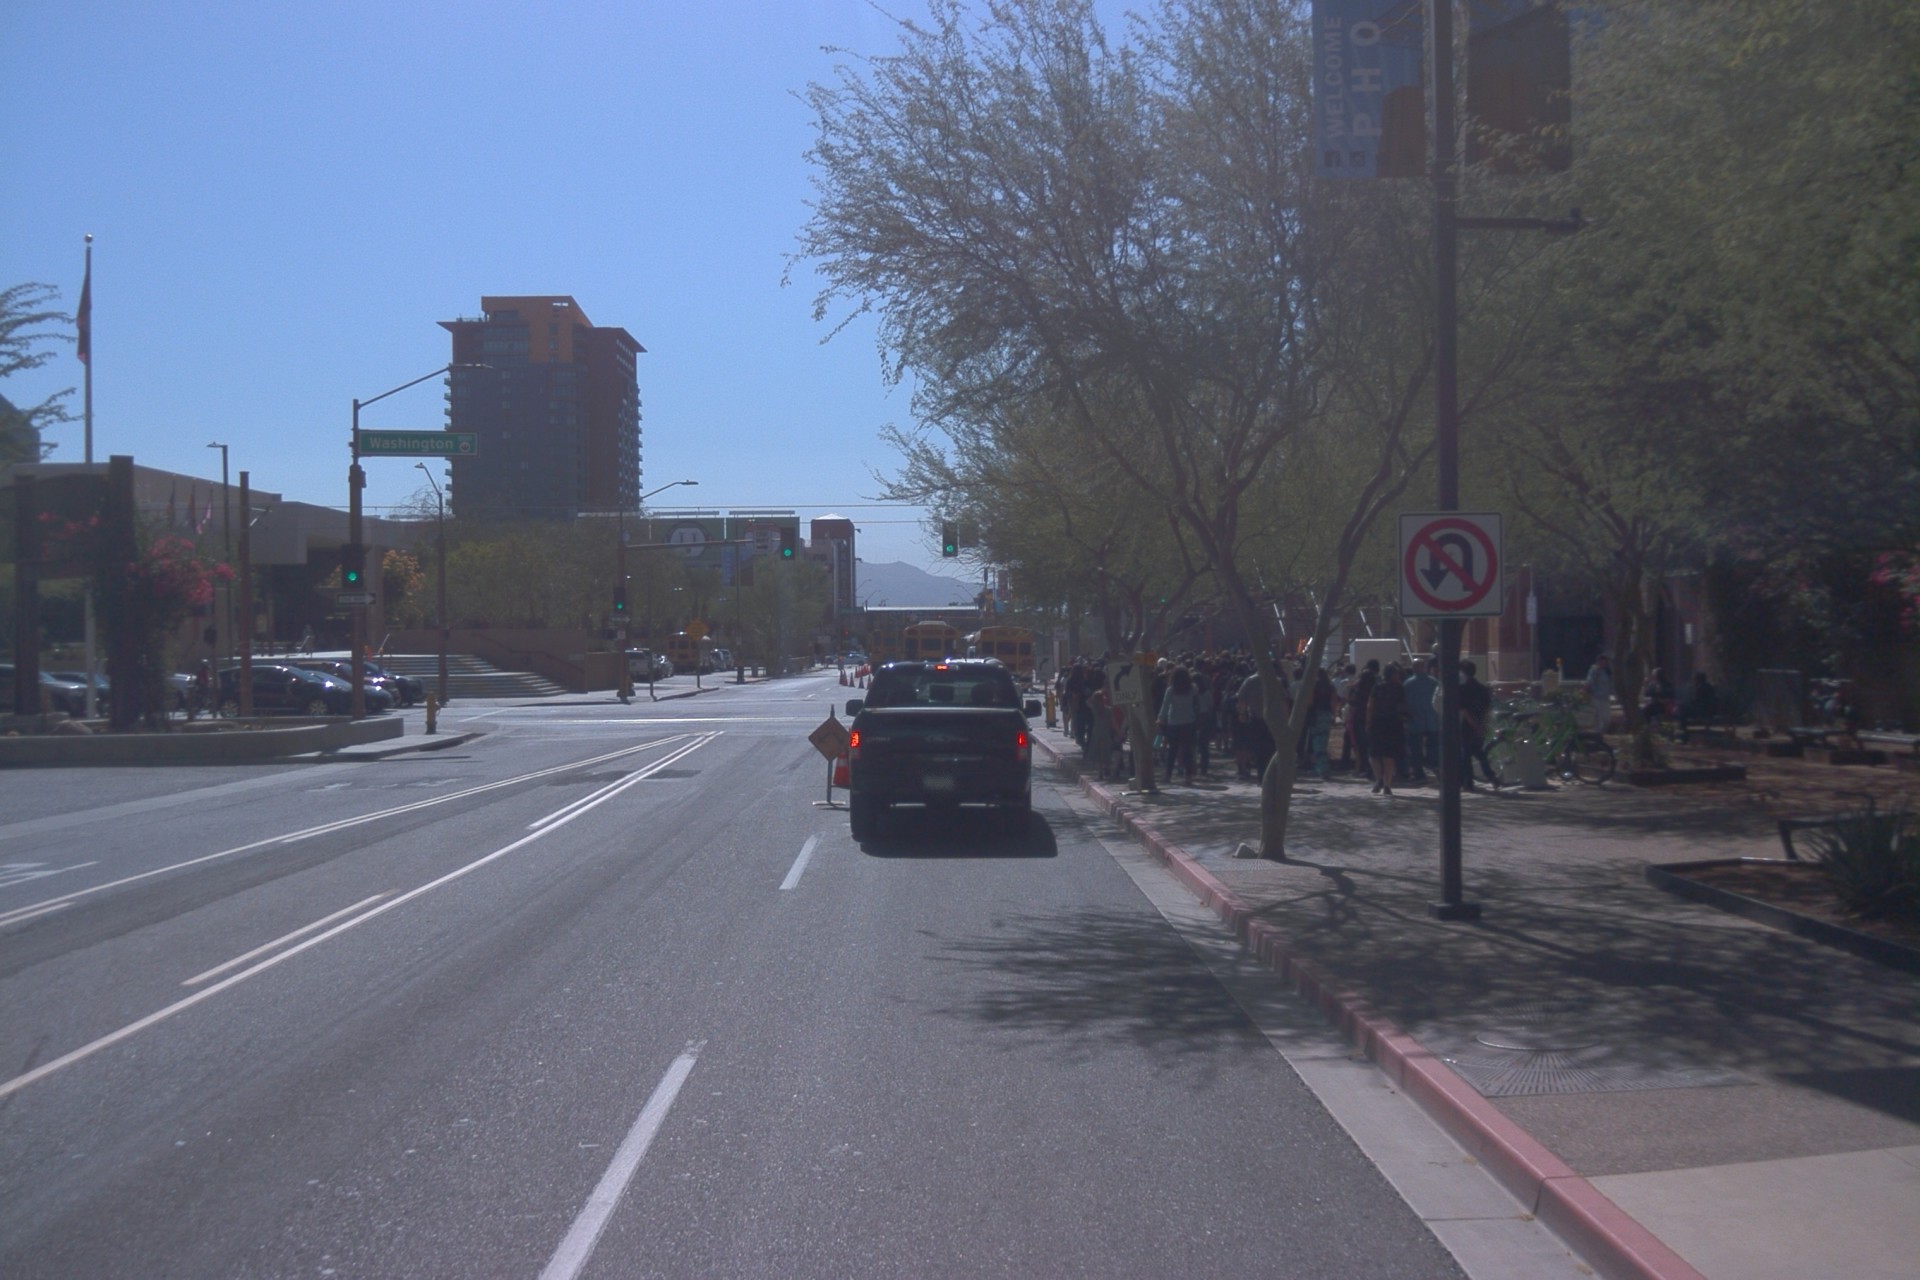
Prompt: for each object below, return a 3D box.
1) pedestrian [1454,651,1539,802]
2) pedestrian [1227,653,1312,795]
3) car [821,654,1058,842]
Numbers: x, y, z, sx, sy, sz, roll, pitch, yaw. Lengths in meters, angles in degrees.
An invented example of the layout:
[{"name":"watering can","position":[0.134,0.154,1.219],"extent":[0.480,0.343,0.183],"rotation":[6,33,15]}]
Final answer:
[{"name":"pedestrian","position":[6.762,1.076,26.239],"extent":[0.835,1.880,0.792],"rotation":[0,0,-1]},{"name":"pedestrian","position":[4.223,1.136,28.410],"extent":[0.959,1.900,0.880],"rotation":[0,0,-4]},{"name":"car","position":[-0.169,1.153,24.556],"extent":[2.487,1.950,5.329],"rotation":[0,0,1]}]
